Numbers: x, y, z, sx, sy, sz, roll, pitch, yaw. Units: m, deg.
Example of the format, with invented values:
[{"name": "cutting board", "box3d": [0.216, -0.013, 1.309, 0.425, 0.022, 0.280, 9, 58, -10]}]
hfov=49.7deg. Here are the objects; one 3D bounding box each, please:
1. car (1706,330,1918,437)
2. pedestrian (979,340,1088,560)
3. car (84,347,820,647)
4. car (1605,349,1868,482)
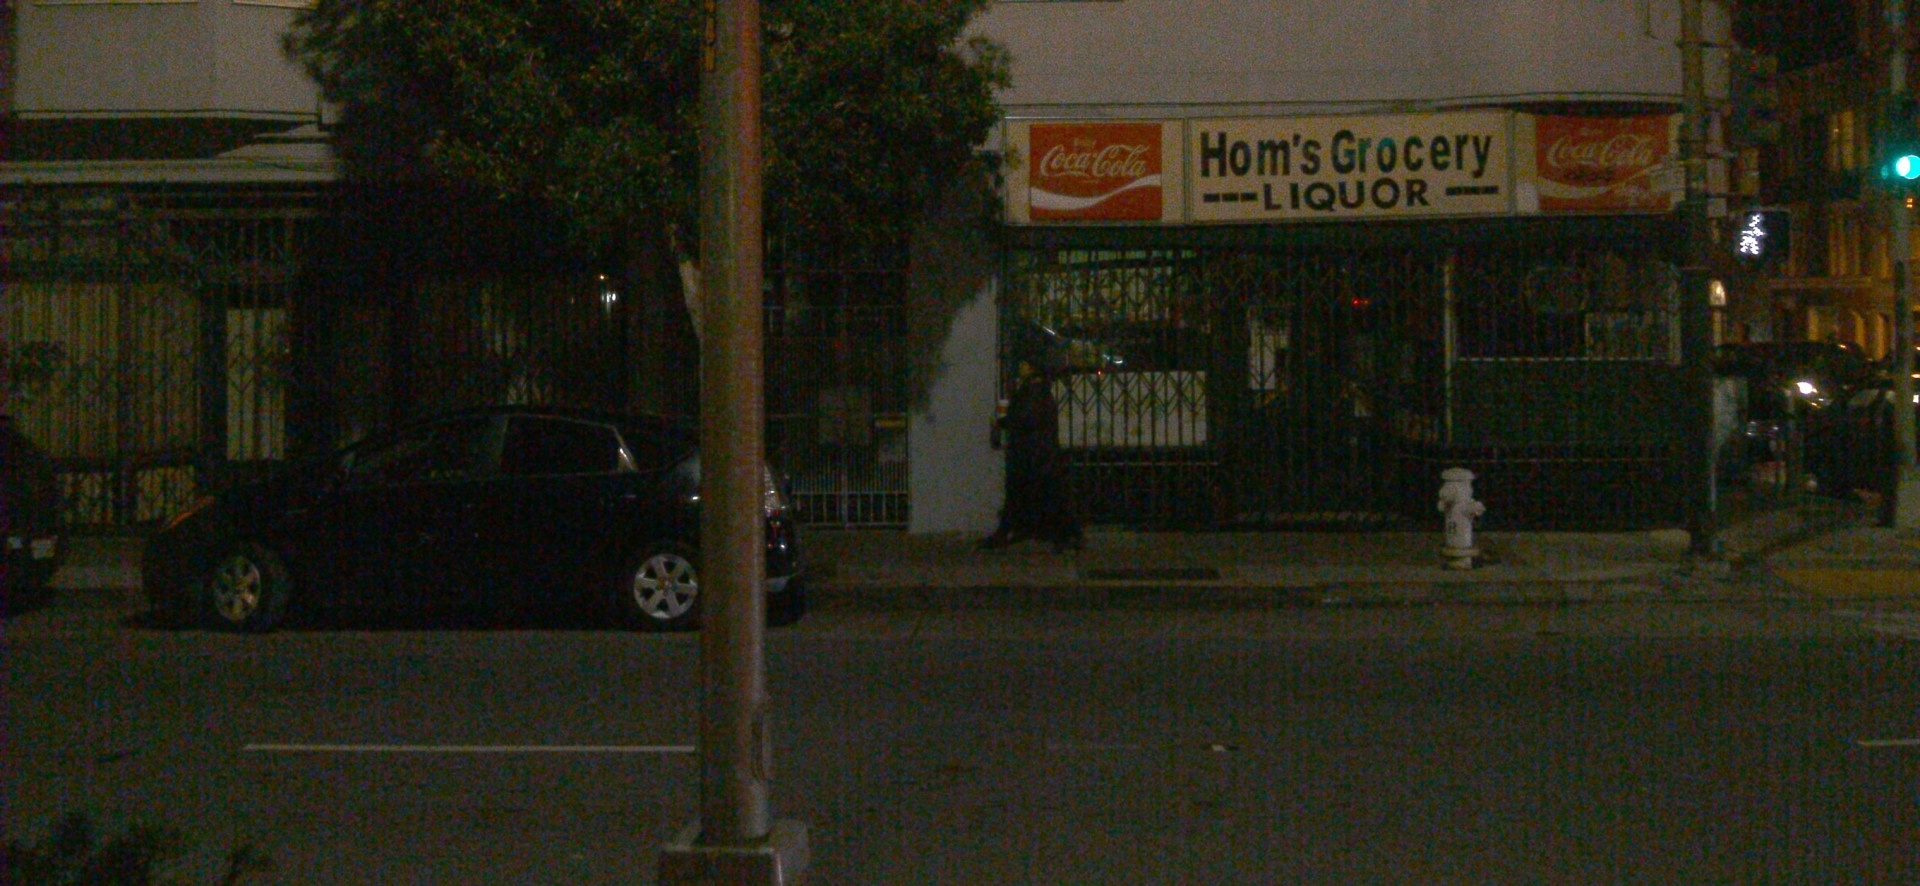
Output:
[{"name": "car", "box3d": [14.771, -1.102, 36.205, 1.997, 1.473, 4.576, 0, 6, 2]}, {"name": "pedestrian", "box3d": [0.585, 0.032, 16.875, 0.820, 1.688, 0.880, 0, 2, -2]}, {"name": "car", "box3d": [-3.293, 0.303, 14.166, 4.570, 1.776, 1.947, 0, 4, -2]}, {"name": "car", "box3d": [10.421, -0.452, 28.197, 1.990, 1.353, 4.636, 0, 6, 2]}]
